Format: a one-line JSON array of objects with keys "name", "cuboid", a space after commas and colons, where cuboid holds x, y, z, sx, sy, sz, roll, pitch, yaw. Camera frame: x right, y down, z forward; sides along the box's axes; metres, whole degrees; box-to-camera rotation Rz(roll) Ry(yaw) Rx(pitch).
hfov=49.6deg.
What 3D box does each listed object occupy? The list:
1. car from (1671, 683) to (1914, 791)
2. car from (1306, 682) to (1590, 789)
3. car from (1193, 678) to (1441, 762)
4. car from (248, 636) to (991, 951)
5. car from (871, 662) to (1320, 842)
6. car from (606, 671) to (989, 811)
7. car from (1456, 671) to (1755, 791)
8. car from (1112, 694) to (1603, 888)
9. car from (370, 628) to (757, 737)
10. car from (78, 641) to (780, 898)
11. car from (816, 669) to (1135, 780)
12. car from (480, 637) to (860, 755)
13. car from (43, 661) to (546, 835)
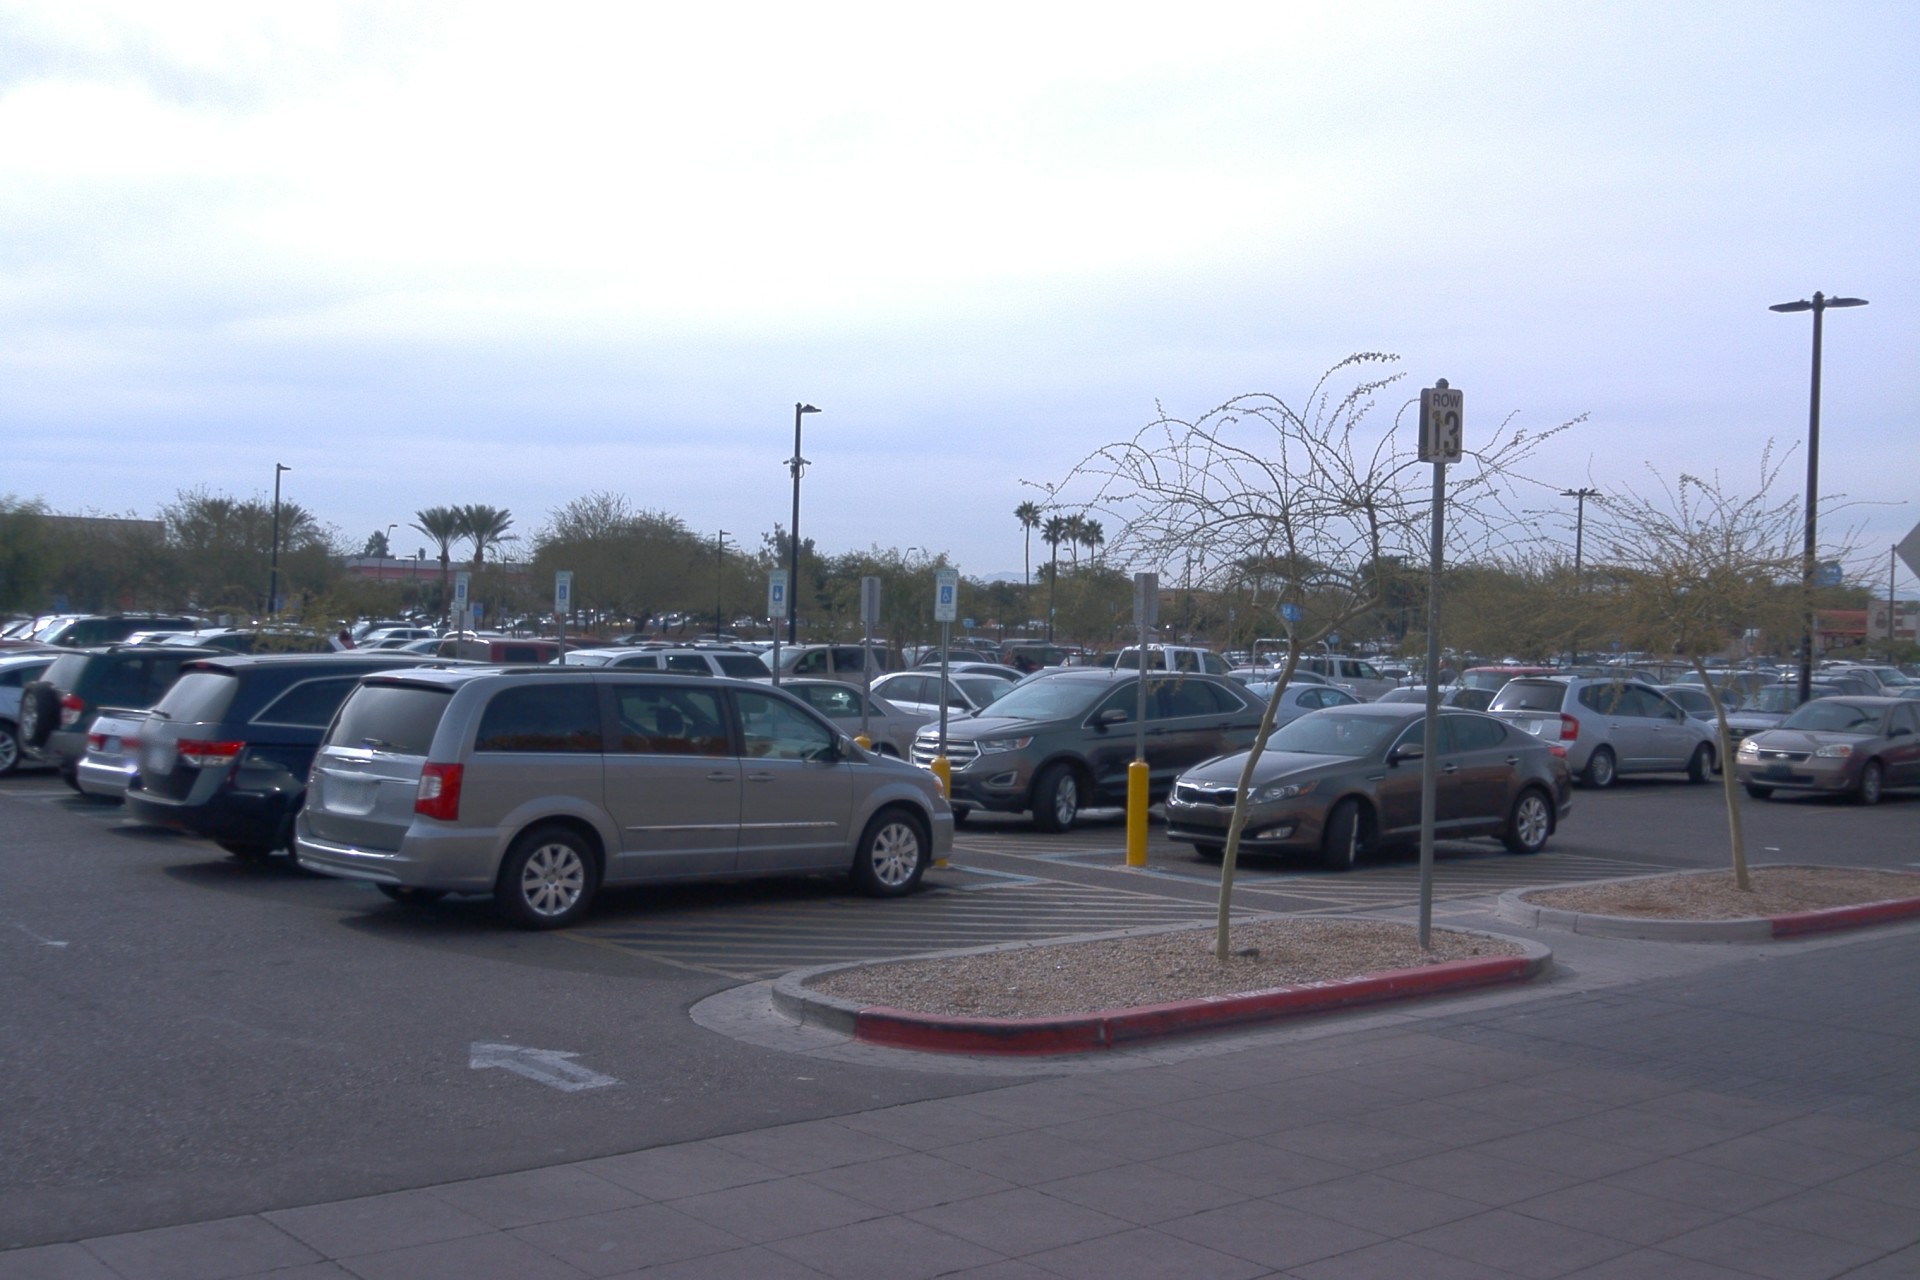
[{"name": "car", "cuboid": [14.264, 1.611, 35.457, 4.419, 1.690, 2.034, 2, -1, -41]}, {"name": "car", "cuboid": [8.008, 1.518, 33.853, 4.752, 1.580, 2.105, 2, -1, -41]}, {"name": "car", "cuboid": [6.258, 1.380, 36.153, 4.345, 1.340, 1.914, 2, -1, -41]}, {"name": "car", "cuboid": [-2.330, 0.999, 15.329, 5.067, 1.930, 2.133, 2, -1, -44]}, {"name": "car", "cuboid": [1.570, 1.165, 22.793, 4.789, 1.740, 2.142, 2, -1, -42]}, {"name": "car", "cuboid": [-1.943, 1.207, 25.820, 2.059, 1.550, 4.458, 0, -1, 45]}, {"name": "car", "cuboid": [9.950, 1.360, 31.839, 4.752, 1.660, 2.105, 2, -1, -40]}, {"name": "car", "cuboid": [3.939, 1.363, 20.083, 4.784, 1.610, 2.143, 2, -1, -41]}, {"name": "car", "cuboid": [-5.659, 0.611, 30.042, 5.056, 1.450, 2.220, 2, -1, -42]}, {"name": "car", "cuboid": [-4.356, 1.001, 17.696, 5.324, 1.850, 2.261, 2, -1, -43]}, {"name": "car", "cuboid": [0.164, 1.250, 31.943, 4.862, 1.500, 2.016, 0, -1, 45]}, {"name": "car", "cuboid": [-3.832, 0.744, 28.008, 4.748, 1.460, 2.027, 2, -1, -43]}, {"name": "car", "cuboid": [-6.437, 1.002, 20.374, 4.279, 1.500, 1.896, 2, -1, -43]}]
